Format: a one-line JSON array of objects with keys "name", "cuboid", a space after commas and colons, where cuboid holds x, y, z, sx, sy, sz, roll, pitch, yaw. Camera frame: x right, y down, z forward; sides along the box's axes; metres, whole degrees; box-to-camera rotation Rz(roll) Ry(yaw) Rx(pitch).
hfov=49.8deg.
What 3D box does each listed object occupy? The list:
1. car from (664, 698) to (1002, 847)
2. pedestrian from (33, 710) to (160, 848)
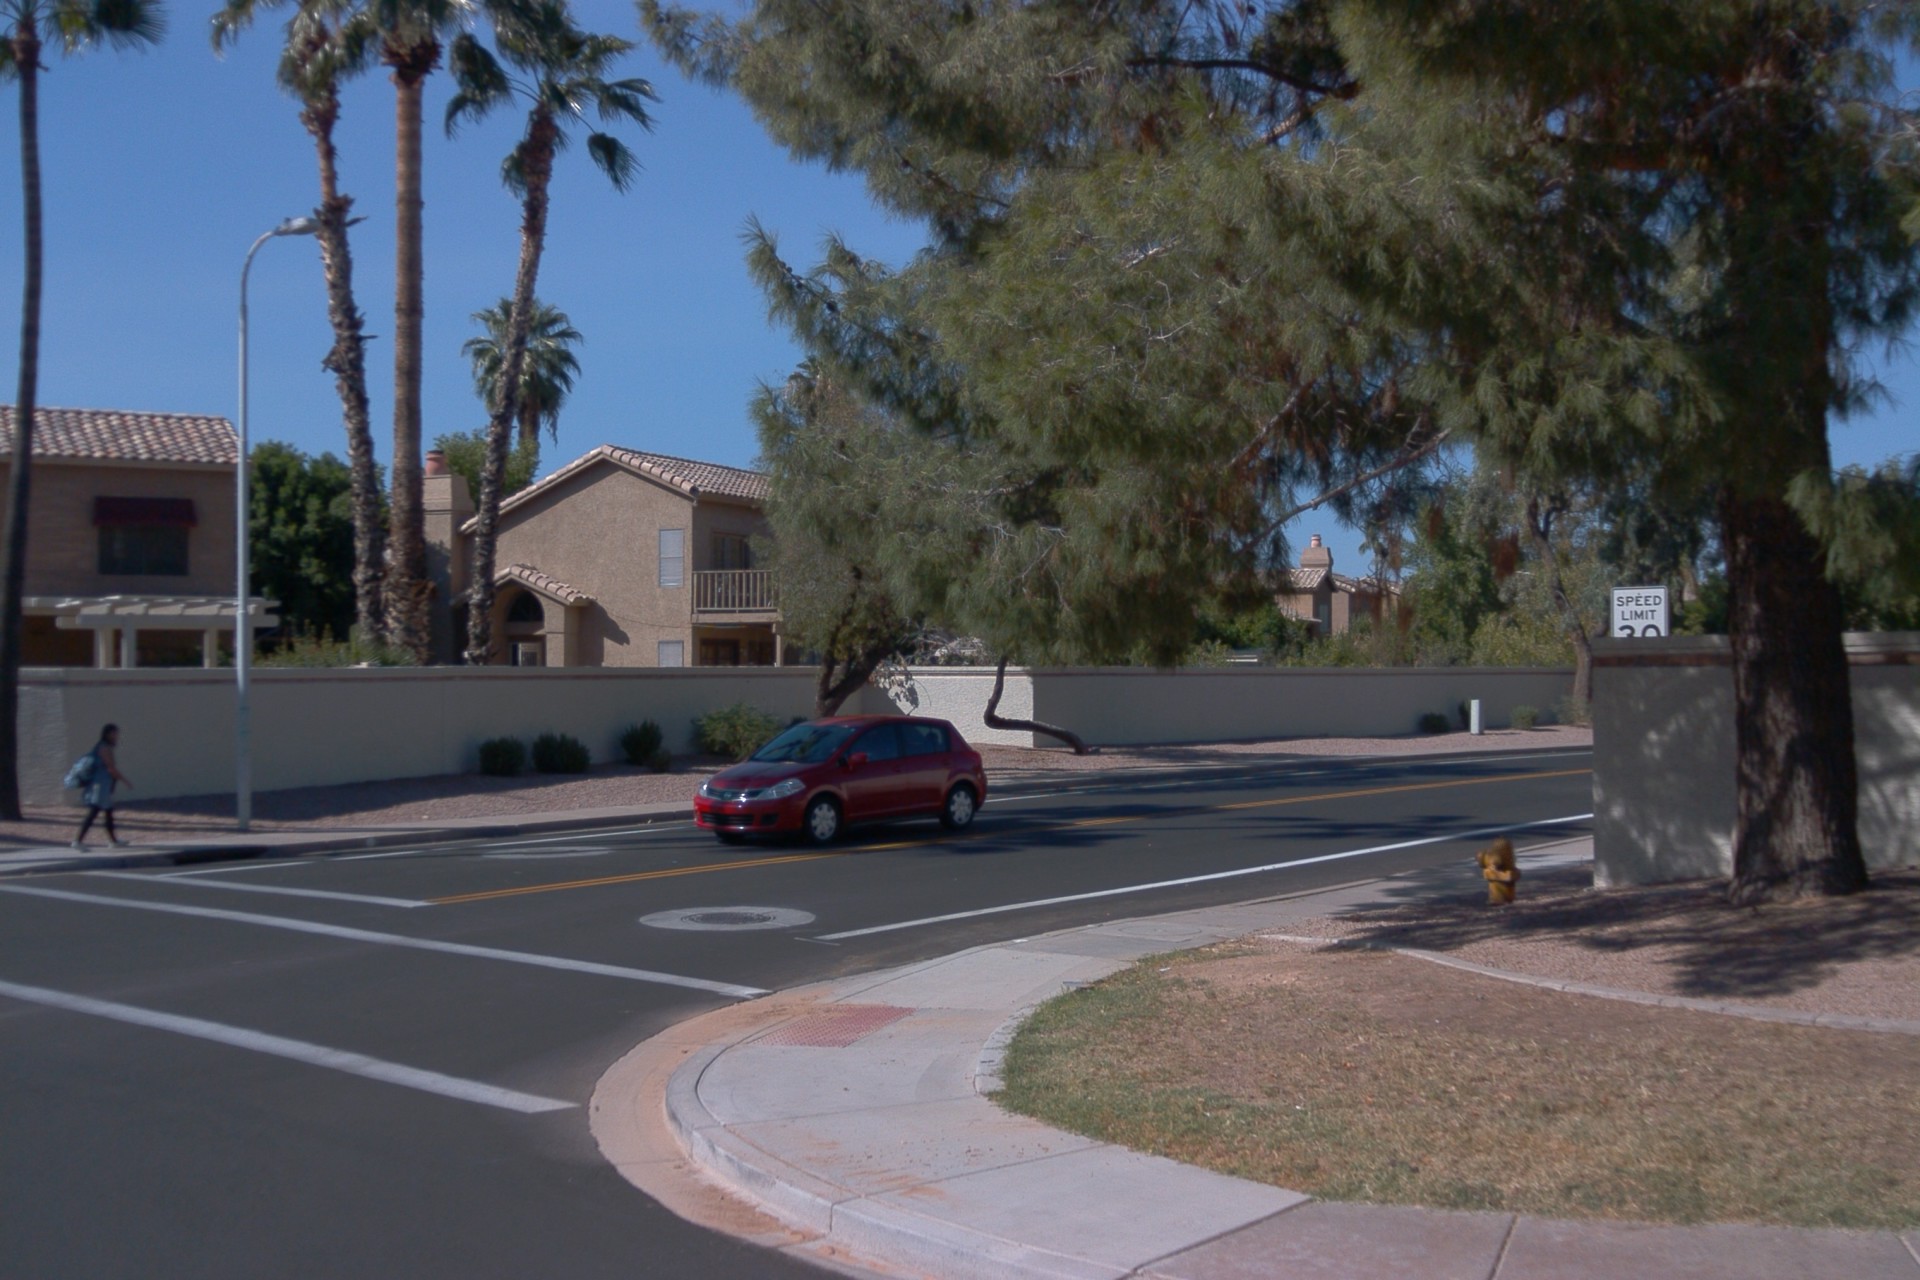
[{"name": "car", "cuboid": [-1.545, 1.616, 26.445, 1.955, 1.680, 4.191, 0, -1, 40]}, {"name": "pedestrian", "cuboid": [-10.223, 1.623, 24.502, 1.008, 1.560, 0.992, 0, -1, 32]}]
